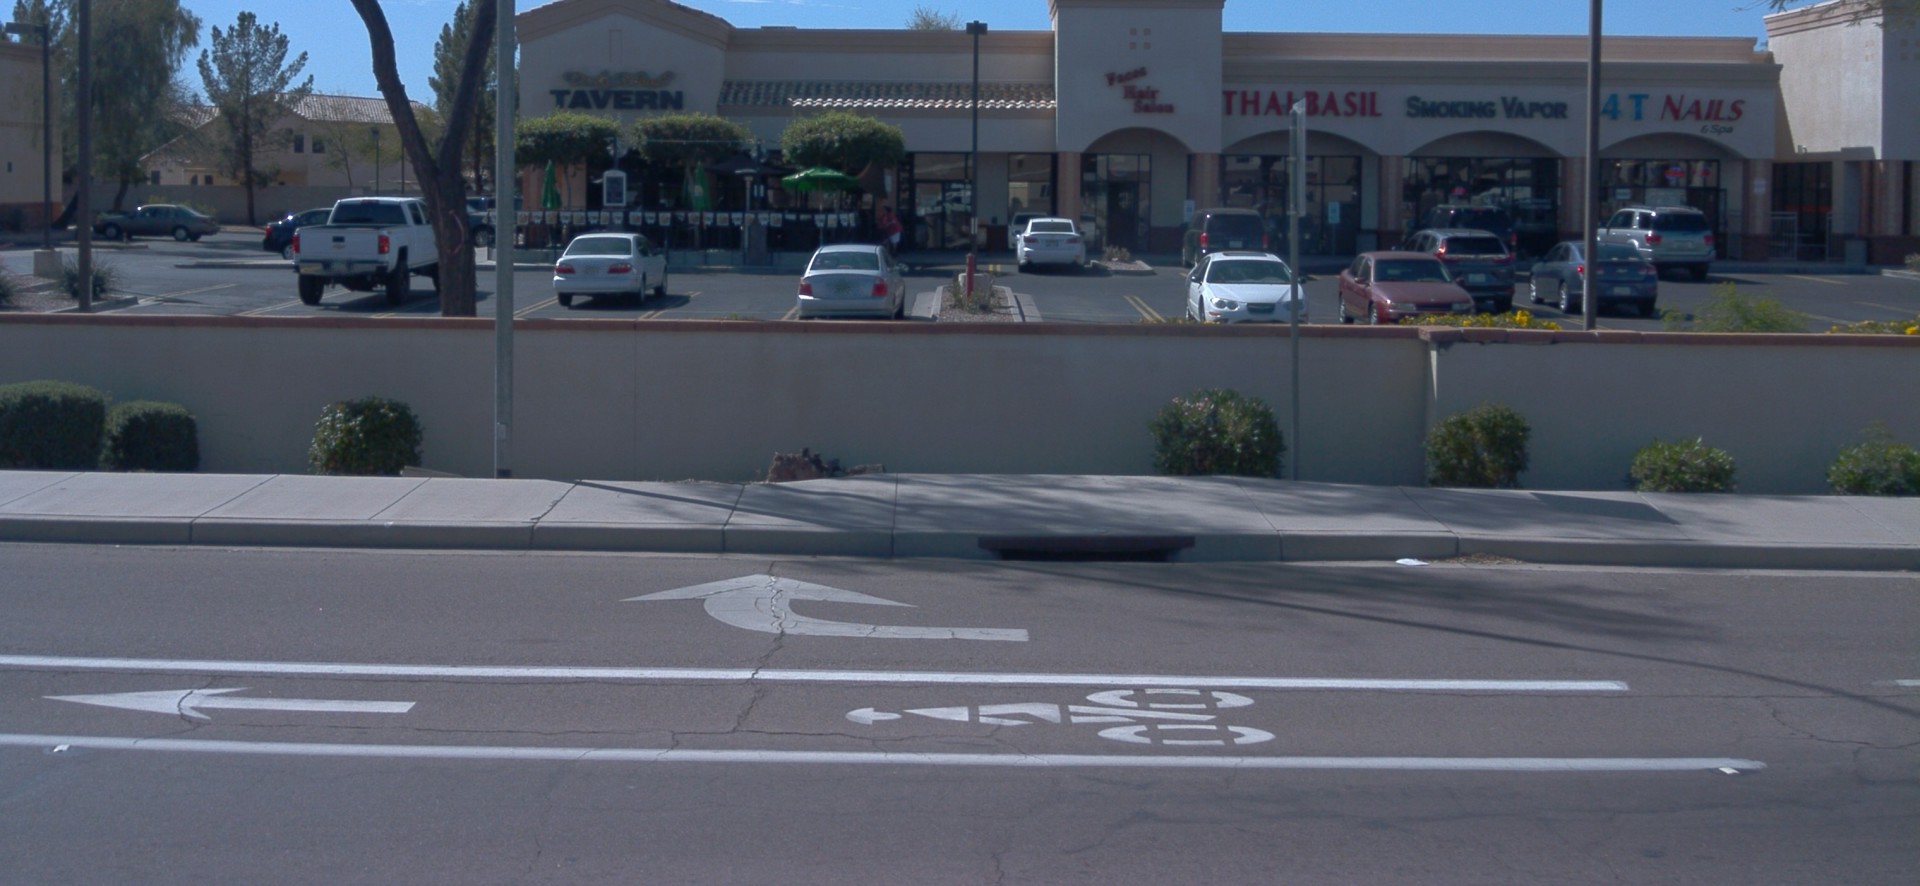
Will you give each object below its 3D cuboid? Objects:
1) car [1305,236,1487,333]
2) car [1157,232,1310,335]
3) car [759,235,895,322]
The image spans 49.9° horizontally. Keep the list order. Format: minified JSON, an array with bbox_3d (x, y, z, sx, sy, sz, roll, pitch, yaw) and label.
[{"bbox_3d":[7.685,-2.889,36.883,2.019,1.521,5.124,0,6,-2],"label":"car"},{"bbox_3d":[4.767,-2.895,36.696,2.087,1.611,5.125,0,6,1],"label":"car"},{"bbox_3d":[-2.359,-3.063,37.766,2.045,1.392,4.849,0,6,1],"label":"car"}]
